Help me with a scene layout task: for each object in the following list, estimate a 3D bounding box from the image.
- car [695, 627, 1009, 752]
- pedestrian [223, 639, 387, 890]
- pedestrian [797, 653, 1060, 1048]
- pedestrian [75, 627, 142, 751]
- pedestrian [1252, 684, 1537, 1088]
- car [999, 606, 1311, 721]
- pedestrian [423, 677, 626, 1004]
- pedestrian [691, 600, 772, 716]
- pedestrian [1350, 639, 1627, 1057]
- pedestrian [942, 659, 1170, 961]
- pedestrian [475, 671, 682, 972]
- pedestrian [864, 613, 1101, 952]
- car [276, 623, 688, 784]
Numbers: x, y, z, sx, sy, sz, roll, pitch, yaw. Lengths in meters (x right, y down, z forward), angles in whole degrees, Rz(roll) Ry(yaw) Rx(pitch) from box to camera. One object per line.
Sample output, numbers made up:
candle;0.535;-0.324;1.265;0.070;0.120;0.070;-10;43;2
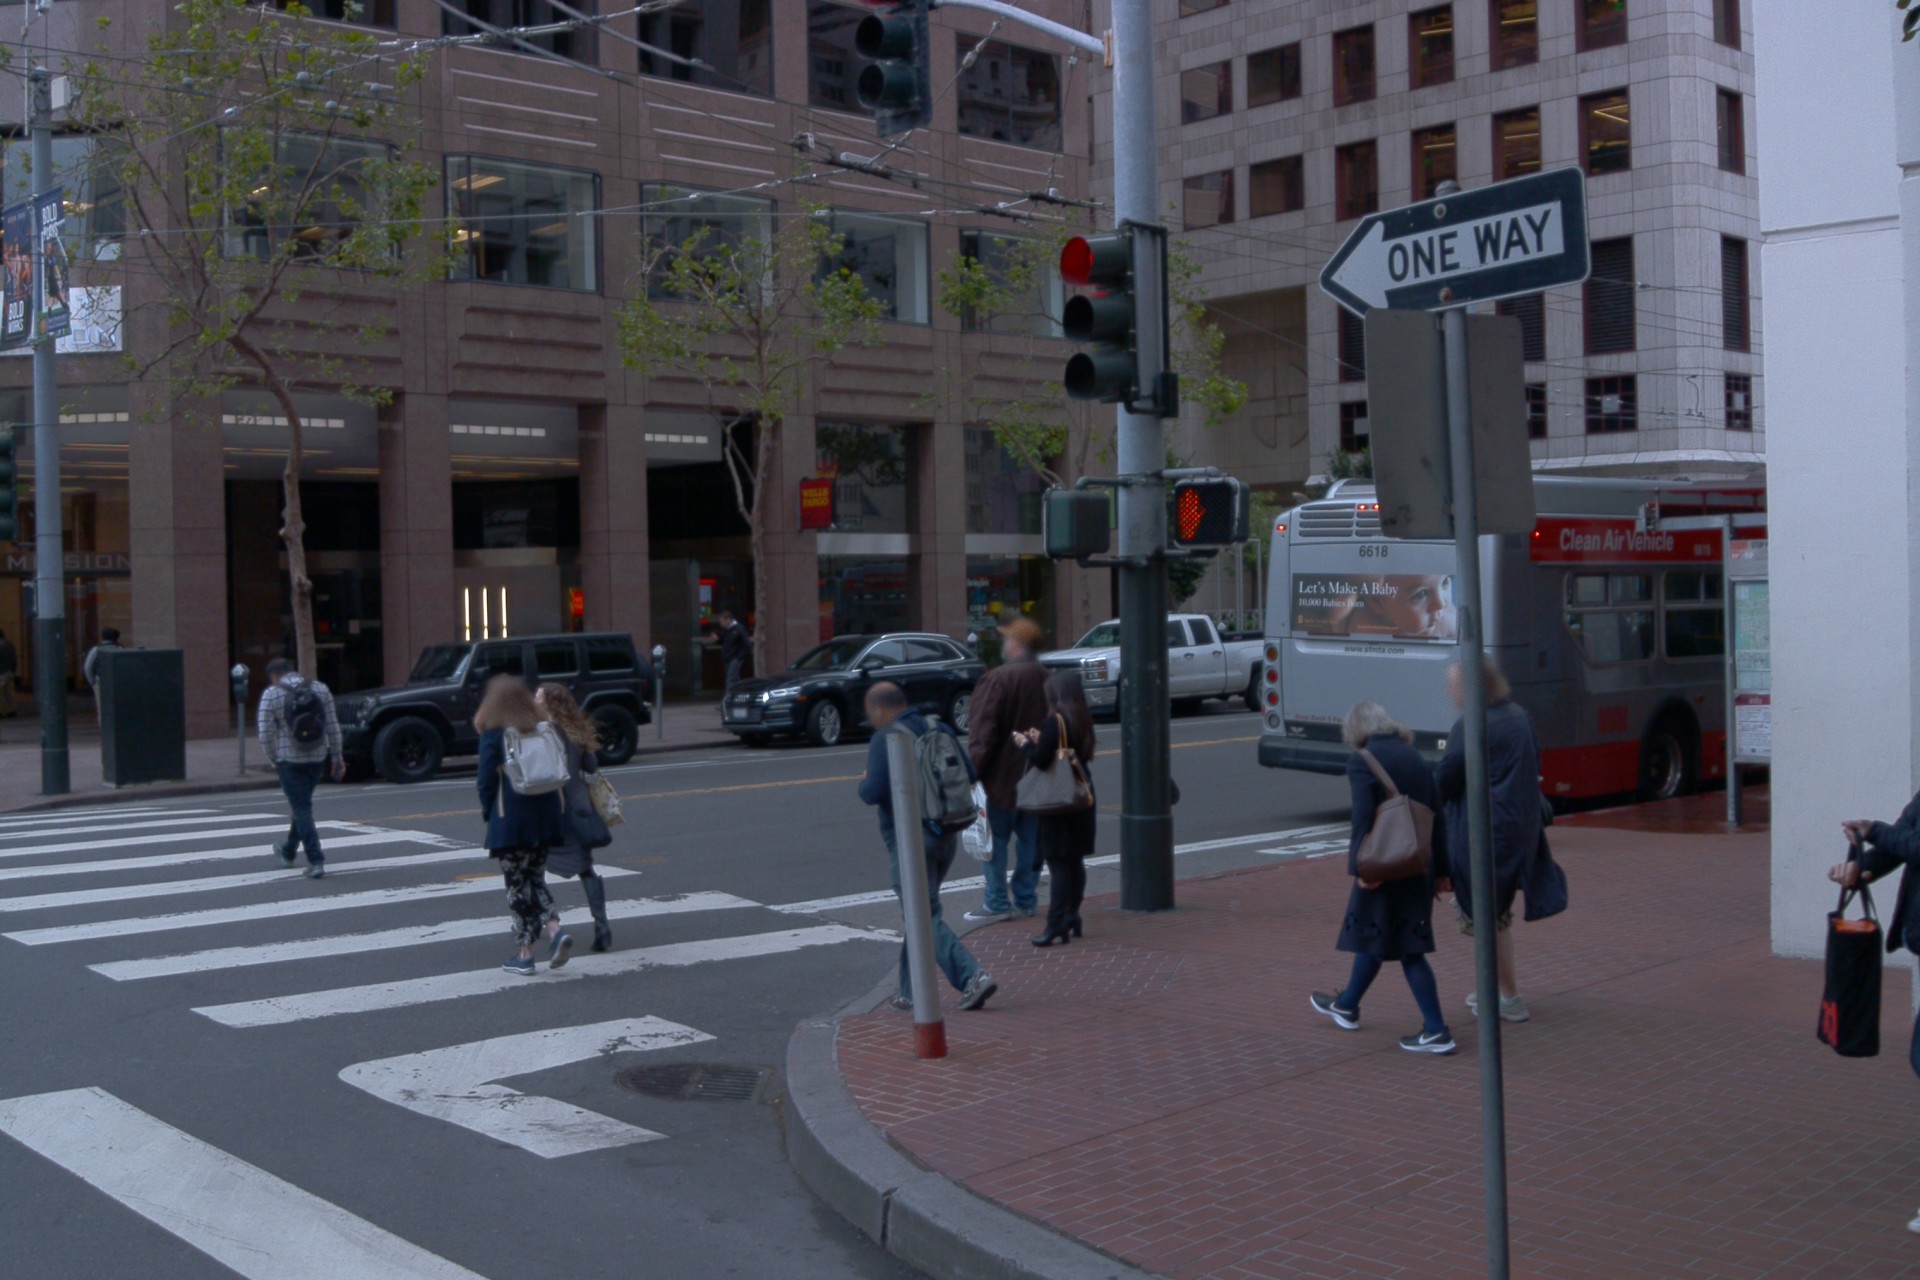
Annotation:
car;-1.605;0.689;31.766;4.539;1.770;2.126;-1;1;-43
pedestrian;-4.984;0.907;15.635;1.066;1.816;0.777;0;0;44
pedestrian;-0.162;0.963;10.018;0.829;1.776;1.010;0;0;-38
pedestrian;-12.462;0.698;30.086;0.779;1.775;1.056;0;0;-29
pedestrian;1.837;0.983;8.702;0.899;1.556;0.776;0;0;45
car;3.562;0.352;36.574;2.385;1.890;5.778;0;1;45
pedestrian;-2.480;1.090;11.676;0.748;1.726;0.990;0;0;-40
pedestrian;-3.976;0.300;35.734;1.067;1.985;0.895;0;0;-43
pedestrian;2.328;0.861;9.084;0.737;1.716;0.920;0;0;-39
pedestrian;0.548;0.923;11.720;0.971;1.606;0.869;0;0;39
pedestrian;-2.348;1.070;12.645;0.841;1.726;0.975;0;0;-45
pedestrian;0.127;0.822;12.675;0.950;1.968;1.152;0;0;-37
car;-6.322;0.754;27.579;4.963;1.950;2.149;-1;1;-43
